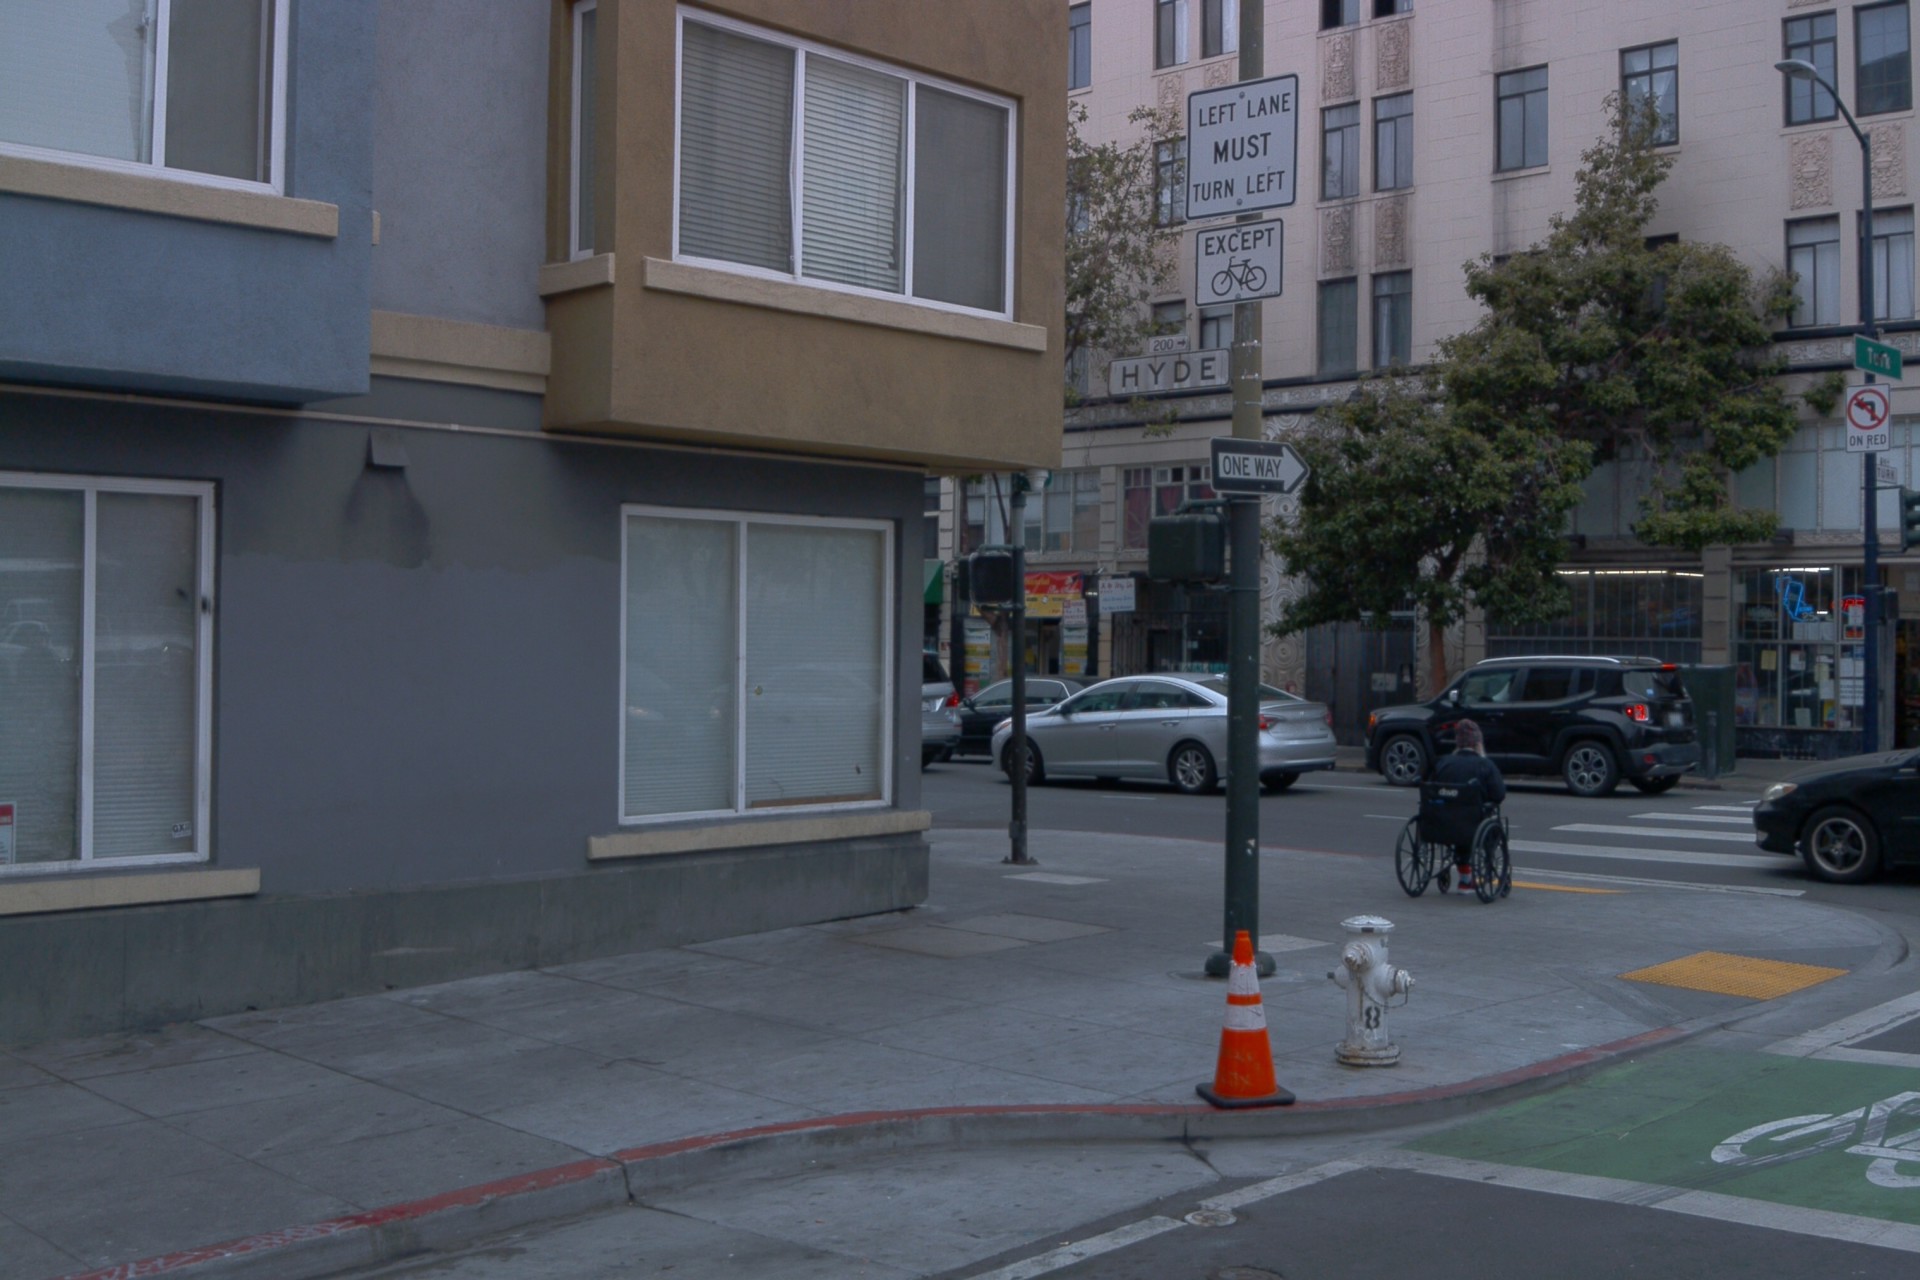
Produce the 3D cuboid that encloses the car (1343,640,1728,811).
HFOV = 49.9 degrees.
[{"bbox_3d":[7.101,0.975,25.762,1.925,1.870,4.231,-1,1,-44],"label":"car"}]

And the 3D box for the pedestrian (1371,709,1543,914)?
[{"bbox_3d":[3.660,1.227,15.179,0.883,1.370,1.026,1,1,38],"label":"pedestrian"}]

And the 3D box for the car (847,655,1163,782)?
[{"bbox_3d":[0.638,1.156,32.443,4.786,1.723,2.180,1,1,45],"label":"car"}]

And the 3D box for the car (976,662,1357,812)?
[{"bbox_3d":[2.515,1.138,26.034,1.939,1.600,4.599,-1,1,-44],"label":"car"}]

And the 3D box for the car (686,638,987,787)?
[{"bbox_3d":[-1.914,0.995,30.750,2.026,1.970,4.585,-1,1,-43],"label":"car"}]
